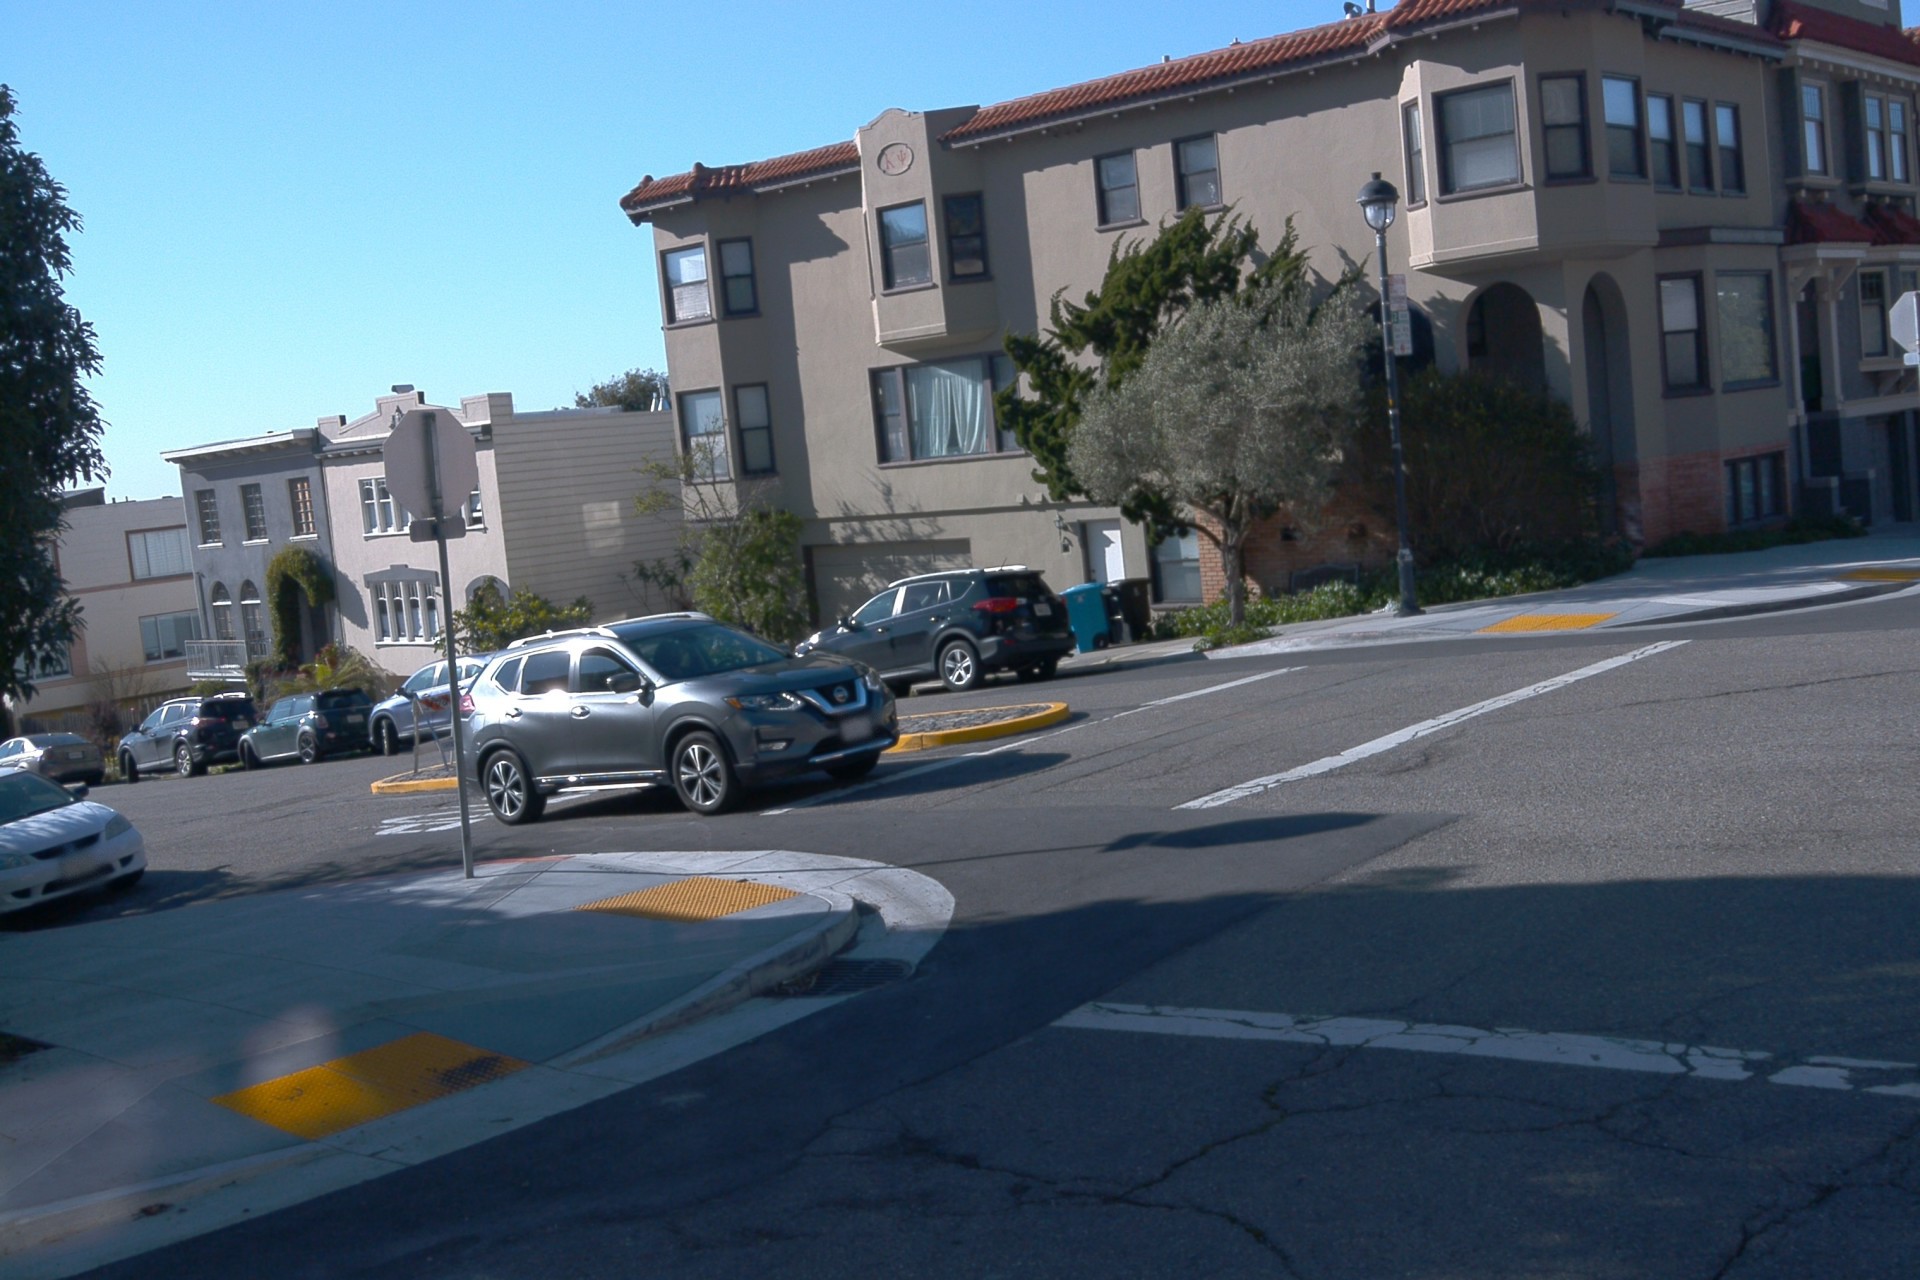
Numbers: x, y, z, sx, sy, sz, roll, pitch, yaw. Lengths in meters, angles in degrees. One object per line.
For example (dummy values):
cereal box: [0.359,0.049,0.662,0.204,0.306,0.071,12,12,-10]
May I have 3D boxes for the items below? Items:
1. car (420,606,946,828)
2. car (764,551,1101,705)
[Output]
car: [-2.577,0.602,18.560,4.680,1.740,2.086,0,0,41]
car: [-0.455,-0.162,29.615,4.526,2.020,2.204,0,0,43]
